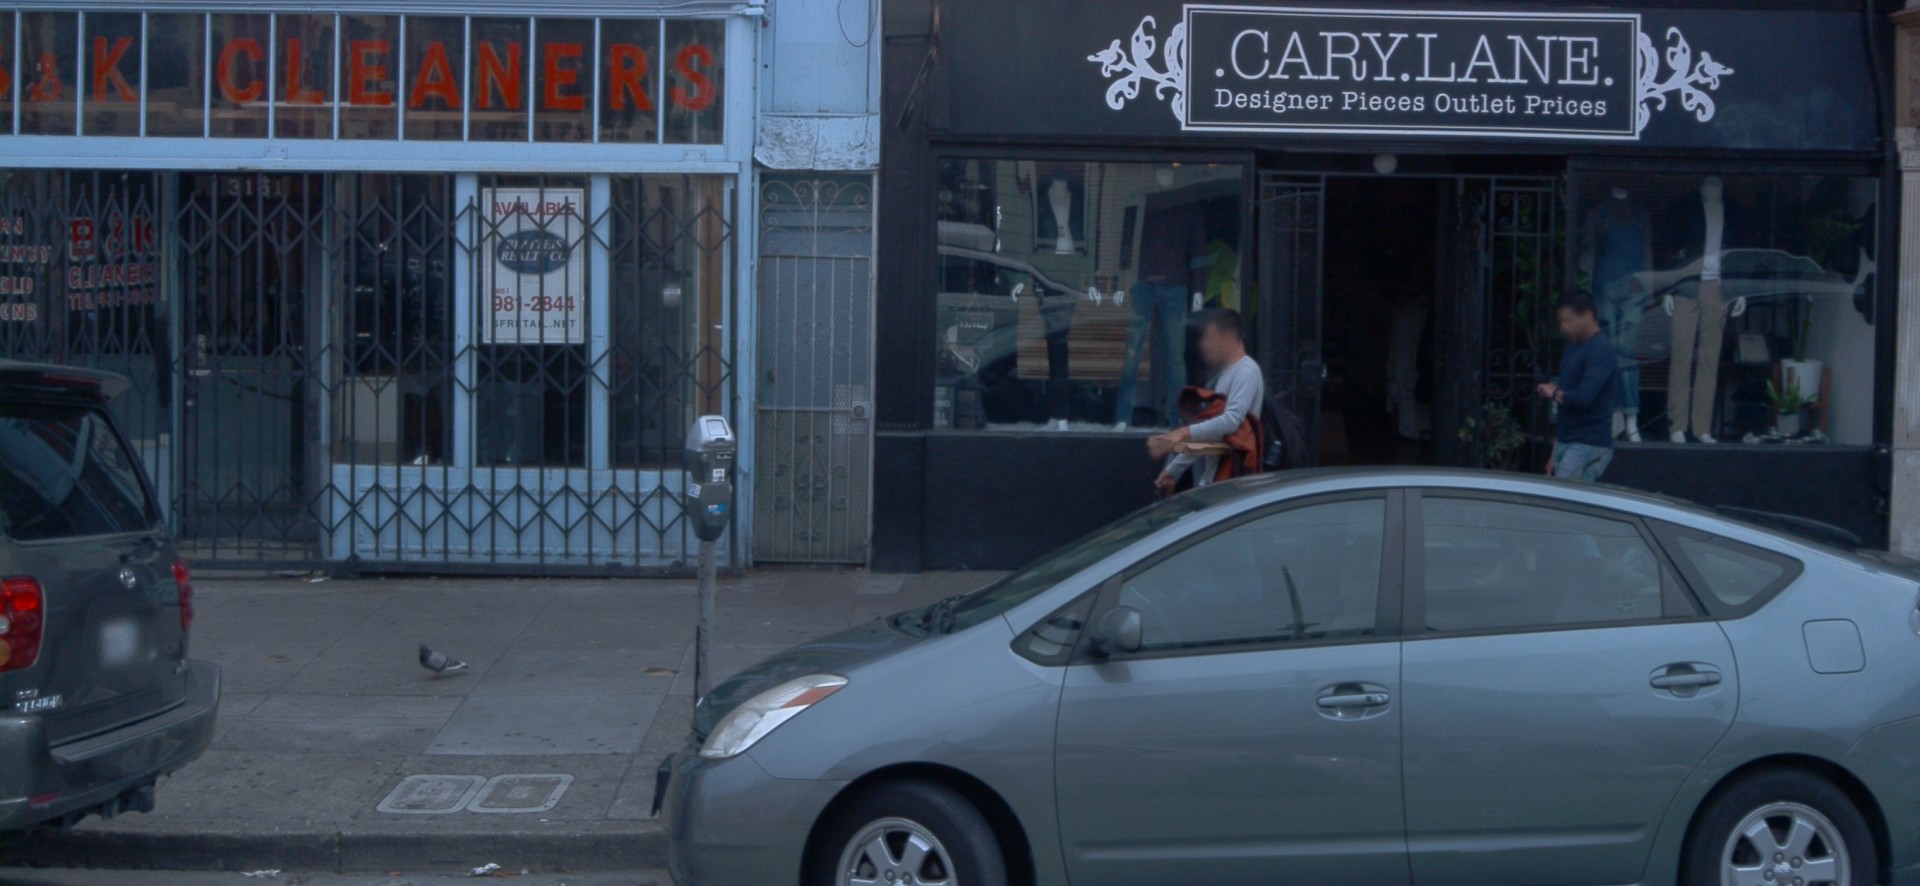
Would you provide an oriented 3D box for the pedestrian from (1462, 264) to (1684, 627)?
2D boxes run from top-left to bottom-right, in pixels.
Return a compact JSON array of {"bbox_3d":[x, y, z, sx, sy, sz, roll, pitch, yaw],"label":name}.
[{"bbox_3d":[3.270,-0.023,11.081,0.942,1.847,0.866,0,2,0],"label":"pedestrian"}]

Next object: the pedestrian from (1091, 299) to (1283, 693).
[{"bbox_3d":[1.091,0.220,10.074,0.844,1.807,0.807,0,2,0],"label":"pedestrian"}]

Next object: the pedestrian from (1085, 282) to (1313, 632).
[{"bbox_3d":[1.236,0.039,10.847,1.102,1.727,0.860,0,2,0],"label":"pedestrian"}]
